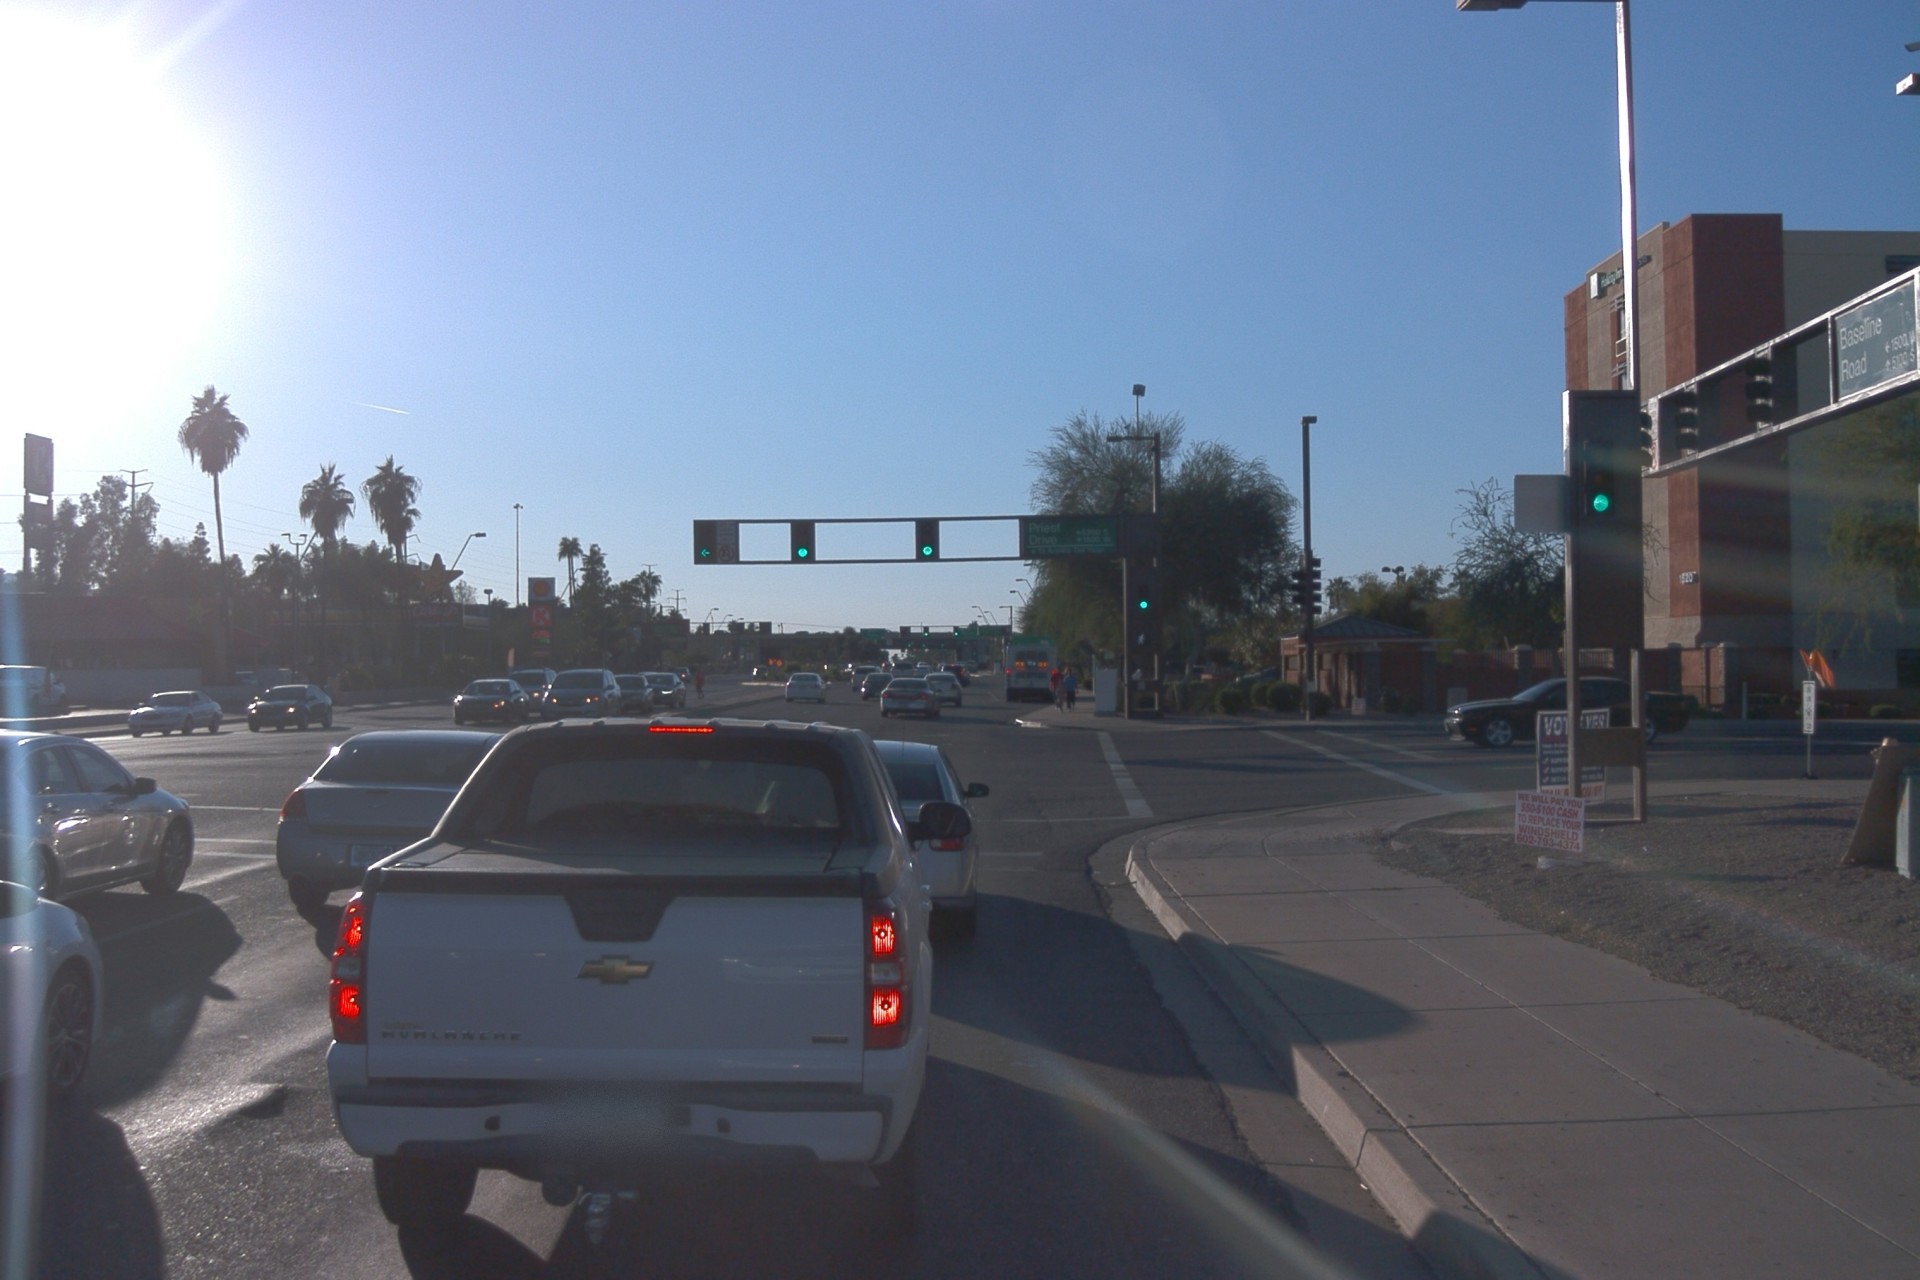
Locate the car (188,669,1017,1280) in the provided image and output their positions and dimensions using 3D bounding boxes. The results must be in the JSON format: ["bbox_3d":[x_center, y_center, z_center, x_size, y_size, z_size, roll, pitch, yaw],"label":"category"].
[{"bbox_3d":[-1.141,1.200,8.988,2.477,2.120,5.357,1,-1,-1],"label":"car"}]

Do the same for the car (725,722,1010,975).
[{"bbox_3d":[-0.704,1.591,17.323,2.031,1.680,4.704,1,-1,-1],"label":"car"}]

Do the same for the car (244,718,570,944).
[{"bbox_3d":[-4.612,1.542,17.952,1.769,1.630,3.866,1,-1,0],"label":"car"}]
